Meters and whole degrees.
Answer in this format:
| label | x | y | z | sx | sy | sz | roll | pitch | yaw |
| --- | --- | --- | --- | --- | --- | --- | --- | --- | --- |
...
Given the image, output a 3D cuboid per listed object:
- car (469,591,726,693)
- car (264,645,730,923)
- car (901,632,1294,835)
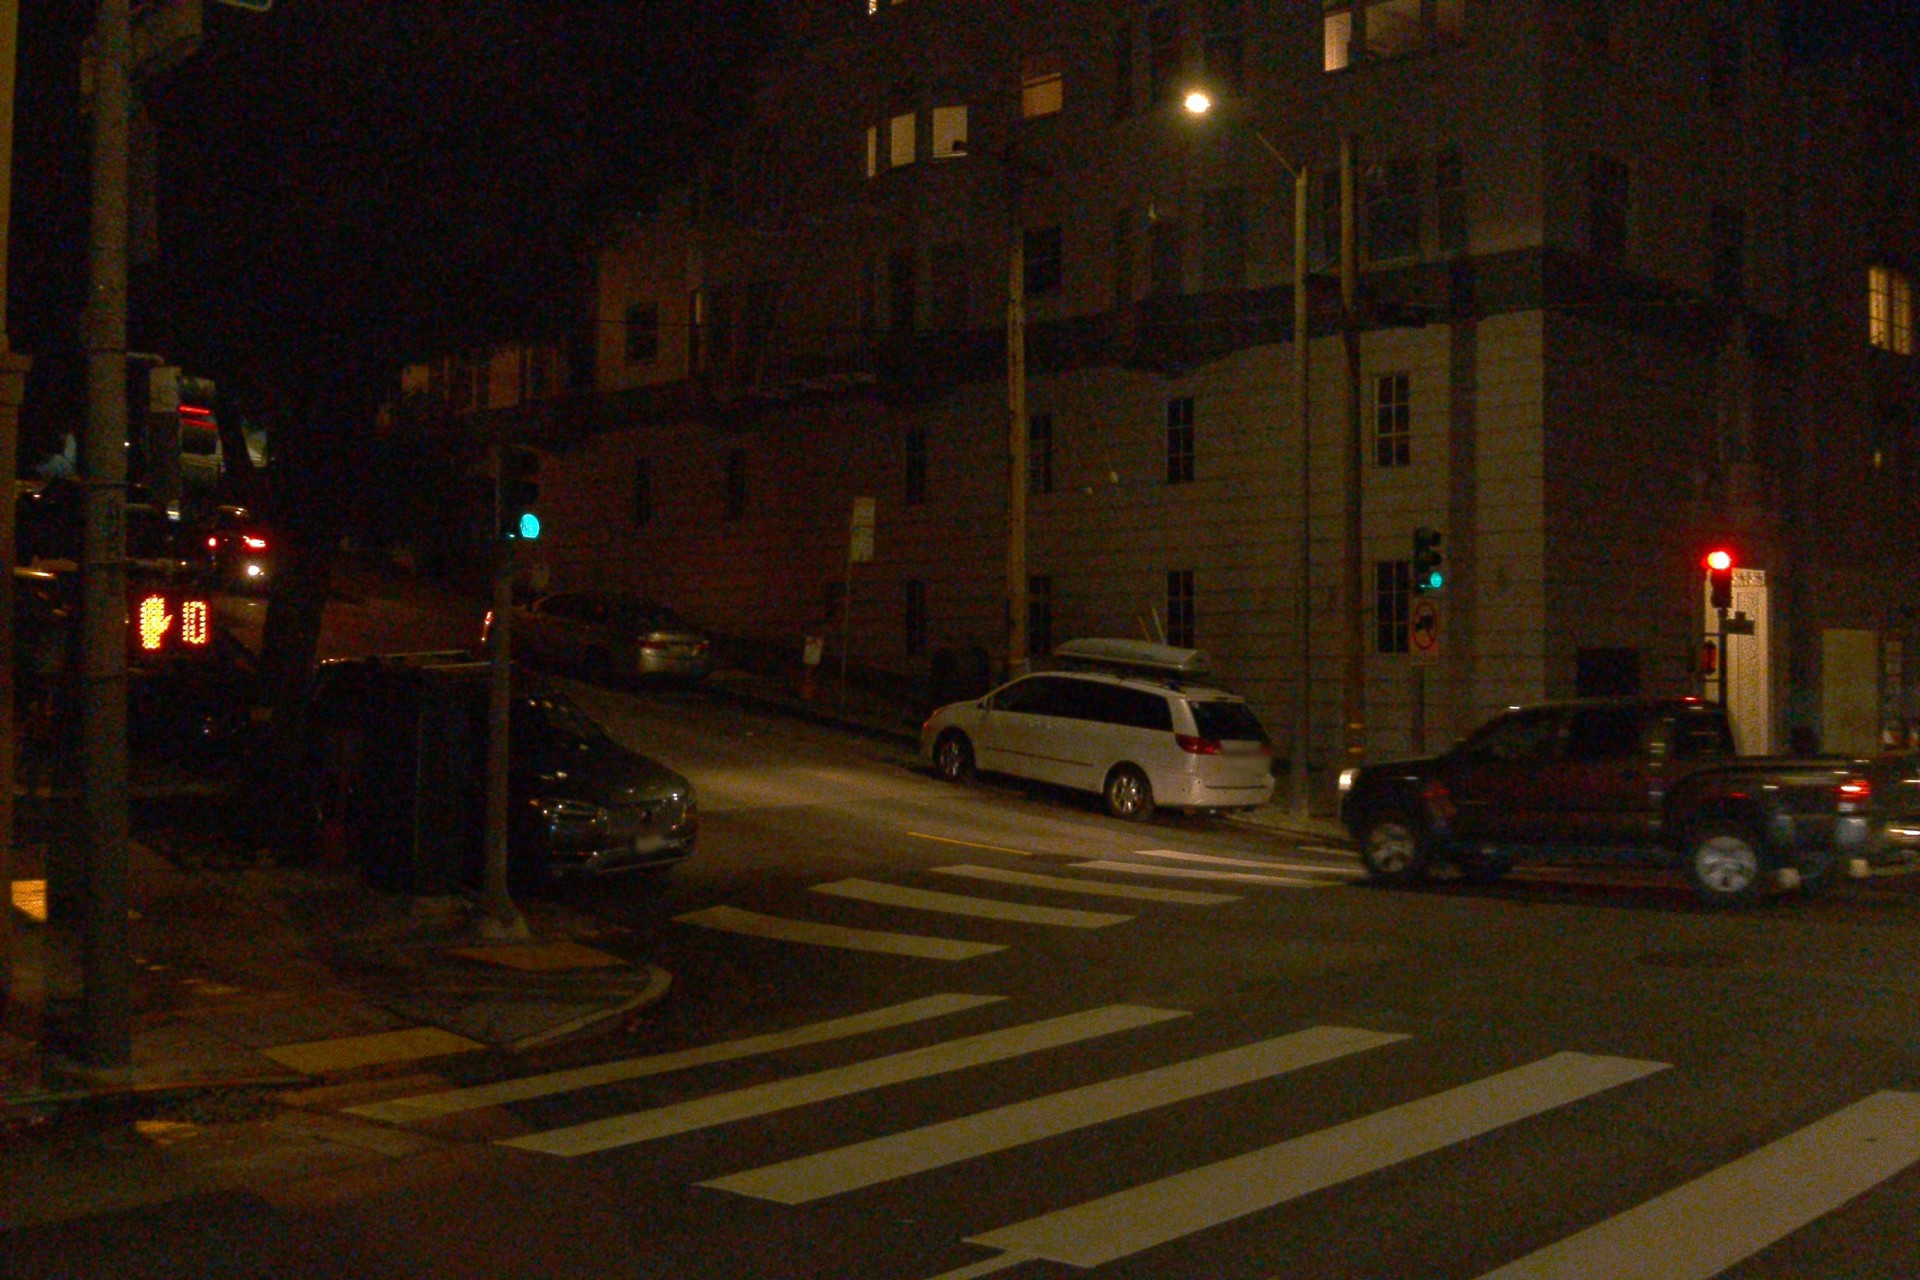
| label | x | y | z | sx | sy | sz | roll | pitch | yaw |
| --- | --- | --- | --- | --- | --- | --- | --- | --- | --- |
| car | -6.218 | 0.004 | 34.848 | 4.539 | 1.626 | 1.925 | 1 | 1 | 42 |
| car | -4.590 | 1.228 | 19.807 | 2.195 | 2.290 | 4.784 | 0 | 1 | -44 |
| car | 1.732 | 1.121 | 27.136 | 4.904 | 2.388 | 2.213 | 1 | 1 | 44 |
